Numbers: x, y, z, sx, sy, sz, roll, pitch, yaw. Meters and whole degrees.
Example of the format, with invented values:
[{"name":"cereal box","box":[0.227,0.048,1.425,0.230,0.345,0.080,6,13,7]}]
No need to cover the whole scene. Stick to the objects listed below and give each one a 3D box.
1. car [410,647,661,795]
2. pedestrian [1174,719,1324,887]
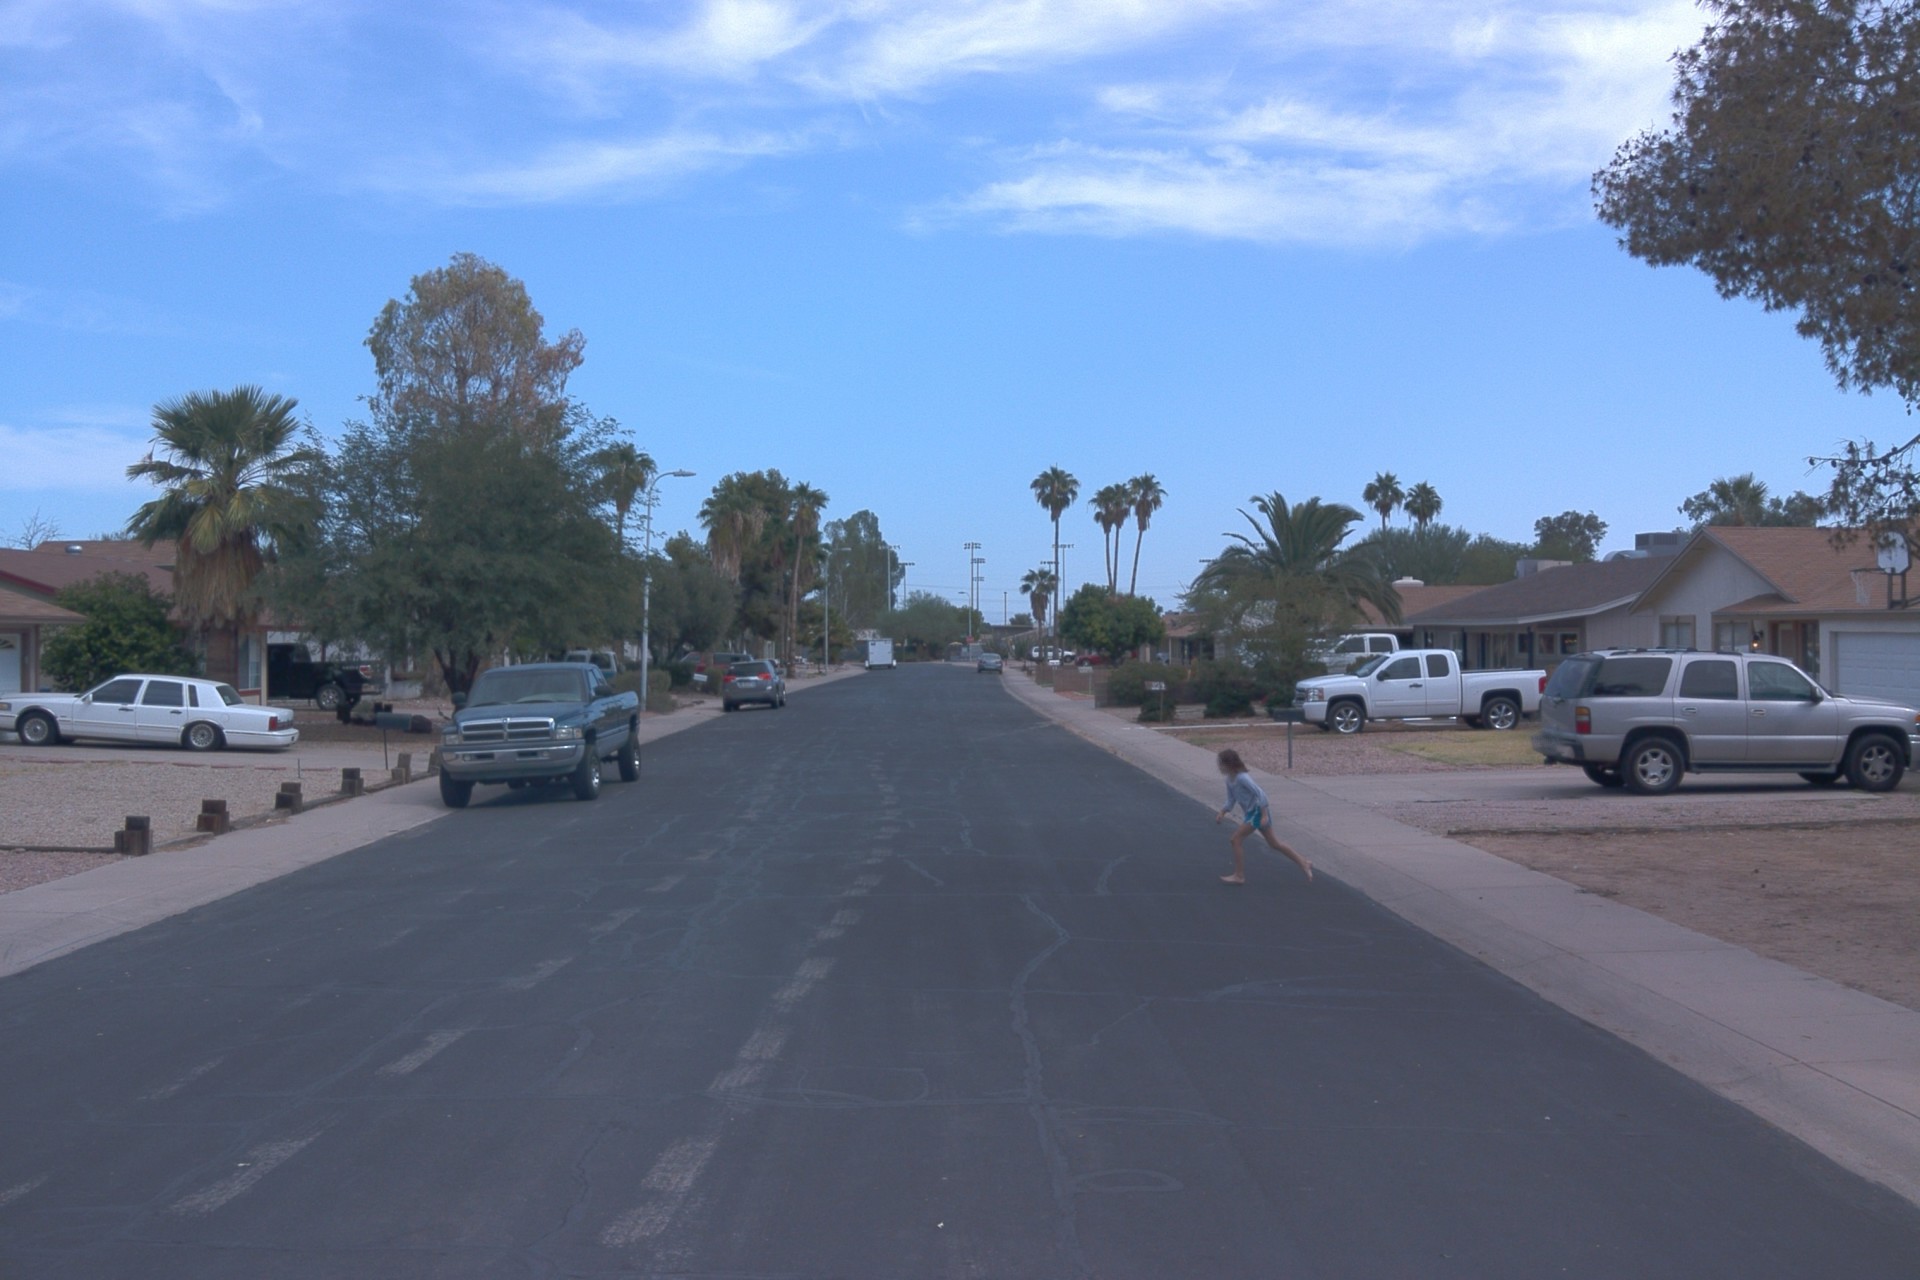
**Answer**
[{"name":"car","box":[-6.178,1.118,31.061,2.460,1.980,6.208,0,-1,0]},{"name":"pedestrian","box":[2.552,1.434,18.412,1.132,1.420,0.947,1,0,-4]}]
